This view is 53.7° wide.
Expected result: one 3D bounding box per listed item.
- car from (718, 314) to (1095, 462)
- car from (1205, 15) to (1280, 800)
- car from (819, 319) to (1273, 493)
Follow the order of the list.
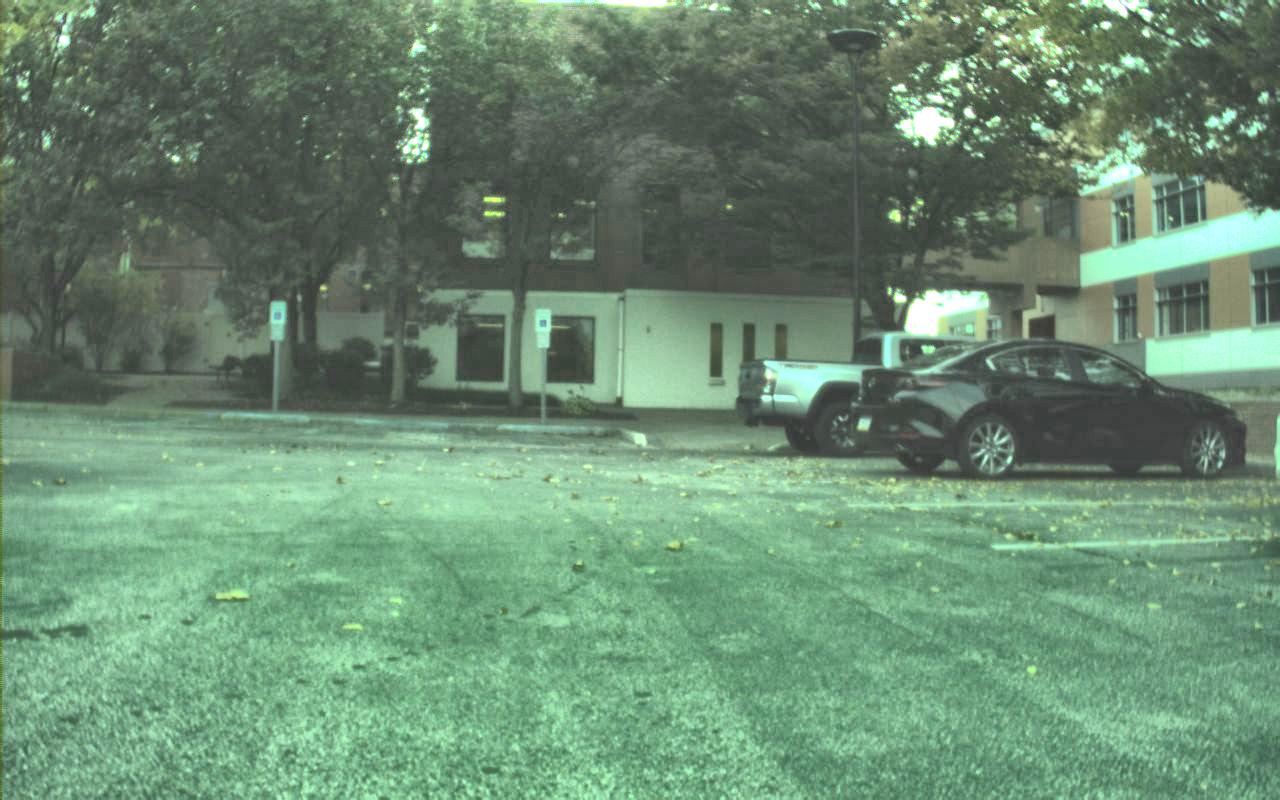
[{"bbox_3d":[3.806,-0.172,17.750,5.088,1.933,2.116,0,1,-8],"label":"car"},{"bbox_3d":[5.277,-0.059,5.123,4.580,1.719,1.996,0,1,-5],"label":"car"},{"bbox_3d":[4.388,0.038,12.752,4.688,1.575,1.962,0,1,-12],"label":"car"}]
